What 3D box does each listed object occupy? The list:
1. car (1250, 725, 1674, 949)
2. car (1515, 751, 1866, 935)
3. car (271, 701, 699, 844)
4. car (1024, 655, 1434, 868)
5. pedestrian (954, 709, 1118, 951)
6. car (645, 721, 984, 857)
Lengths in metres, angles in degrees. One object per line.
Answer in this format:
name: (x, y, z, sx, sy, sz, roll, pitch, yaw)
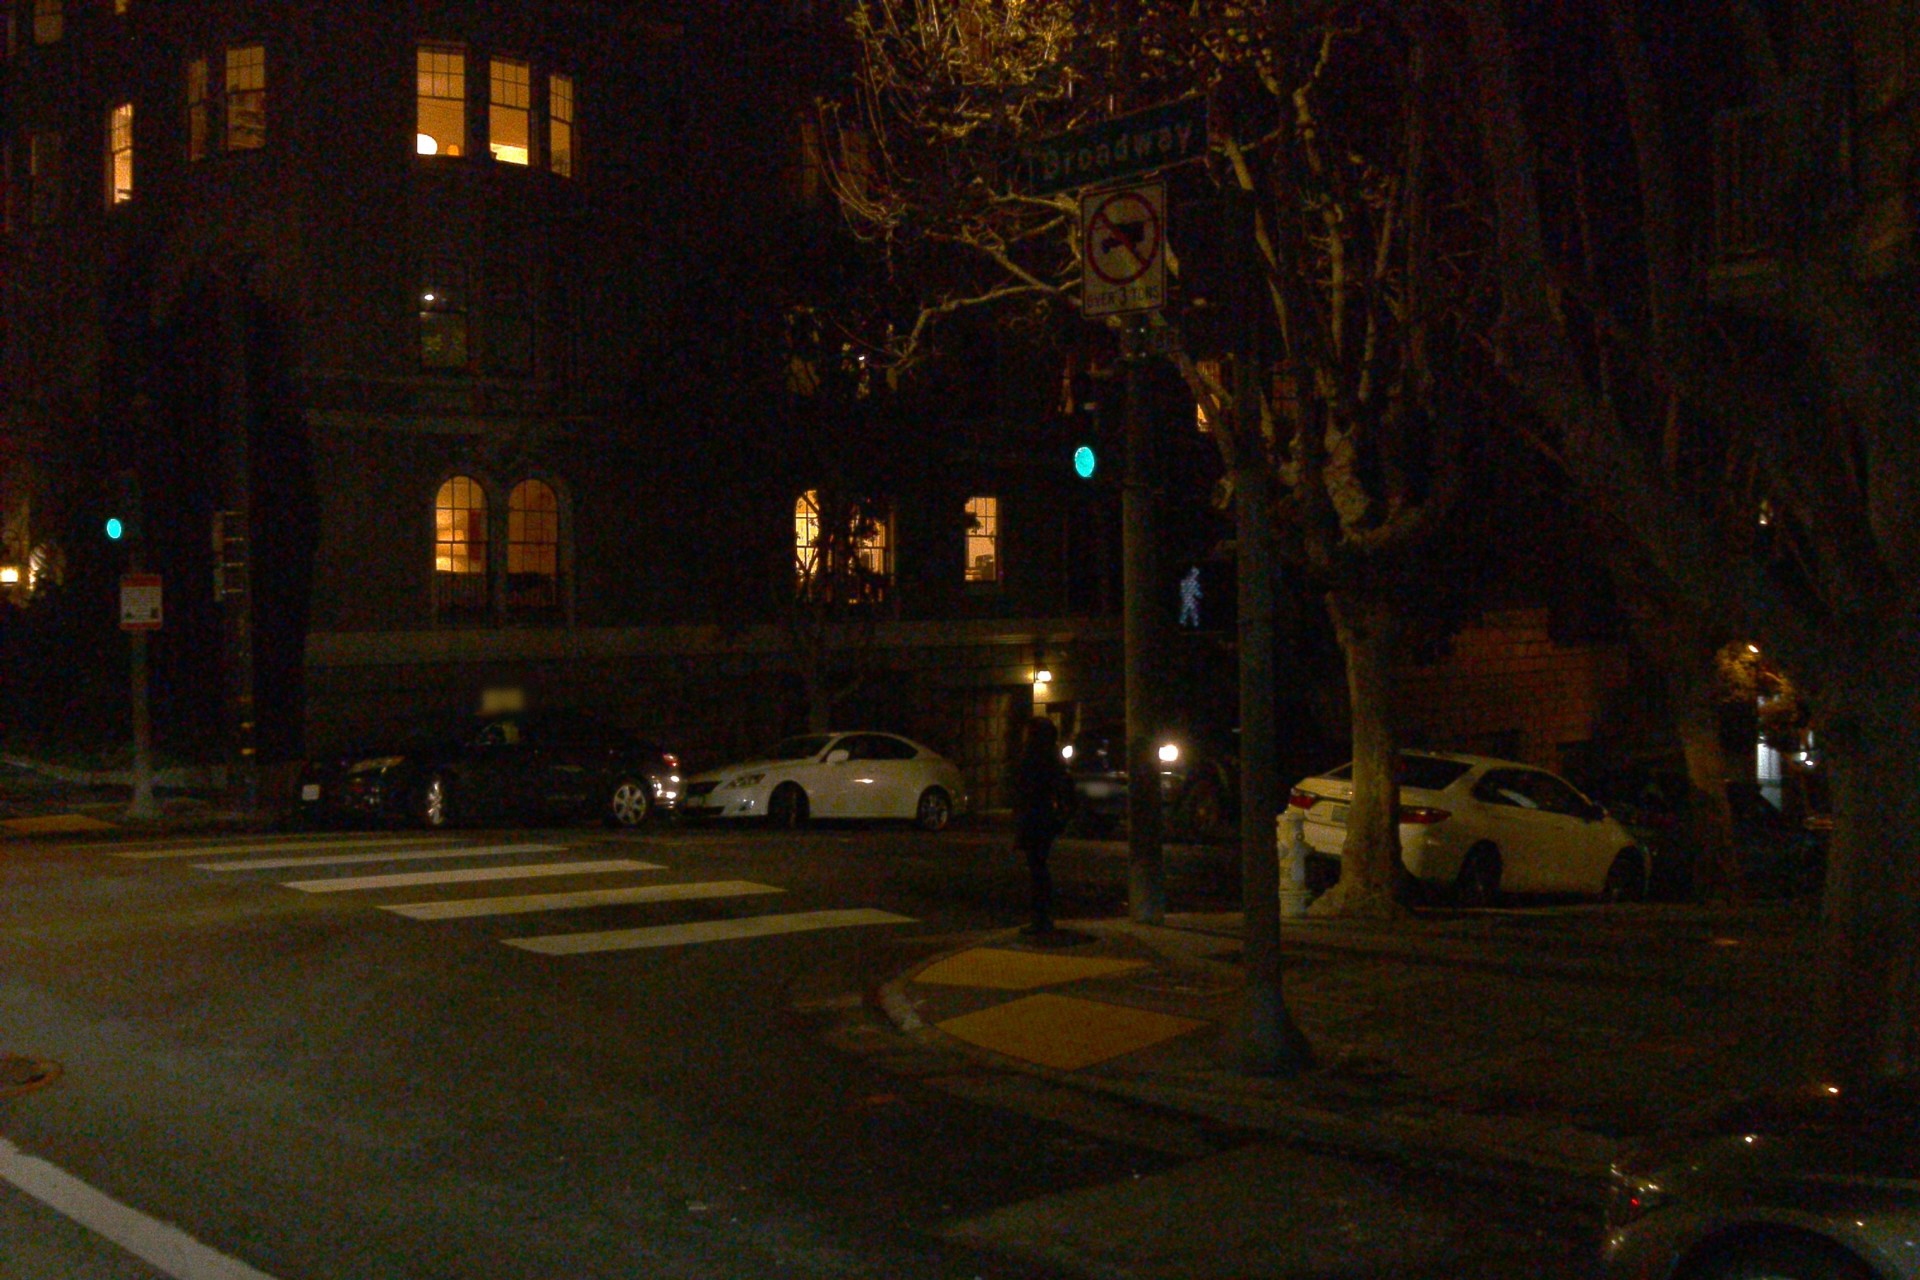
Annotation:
car: (5.137, 1.858, 20.664, 4.554, 1.811, 1.990, 0, 0, -44)
car: (8.883, 2.335, 24.732, 4.887, 1.744, 1.990, 0, 0, -44)
car: (-5.412, 1.458, 23.903, 1.838, 1.362, 4.644, 1, 0, 42)
car: (3.859, 1.535, 28.507, 2.553, 2.592, 5.958, 1, 0, 44)
pedestrian: (0.521, 1.282, 14.242, 0.707, 1.570, 0.903, 0, 0, -38)
car: (-1.873, 1.936, 27.705, 1.919, 1.482, 4.488, 1, 0, 42)
